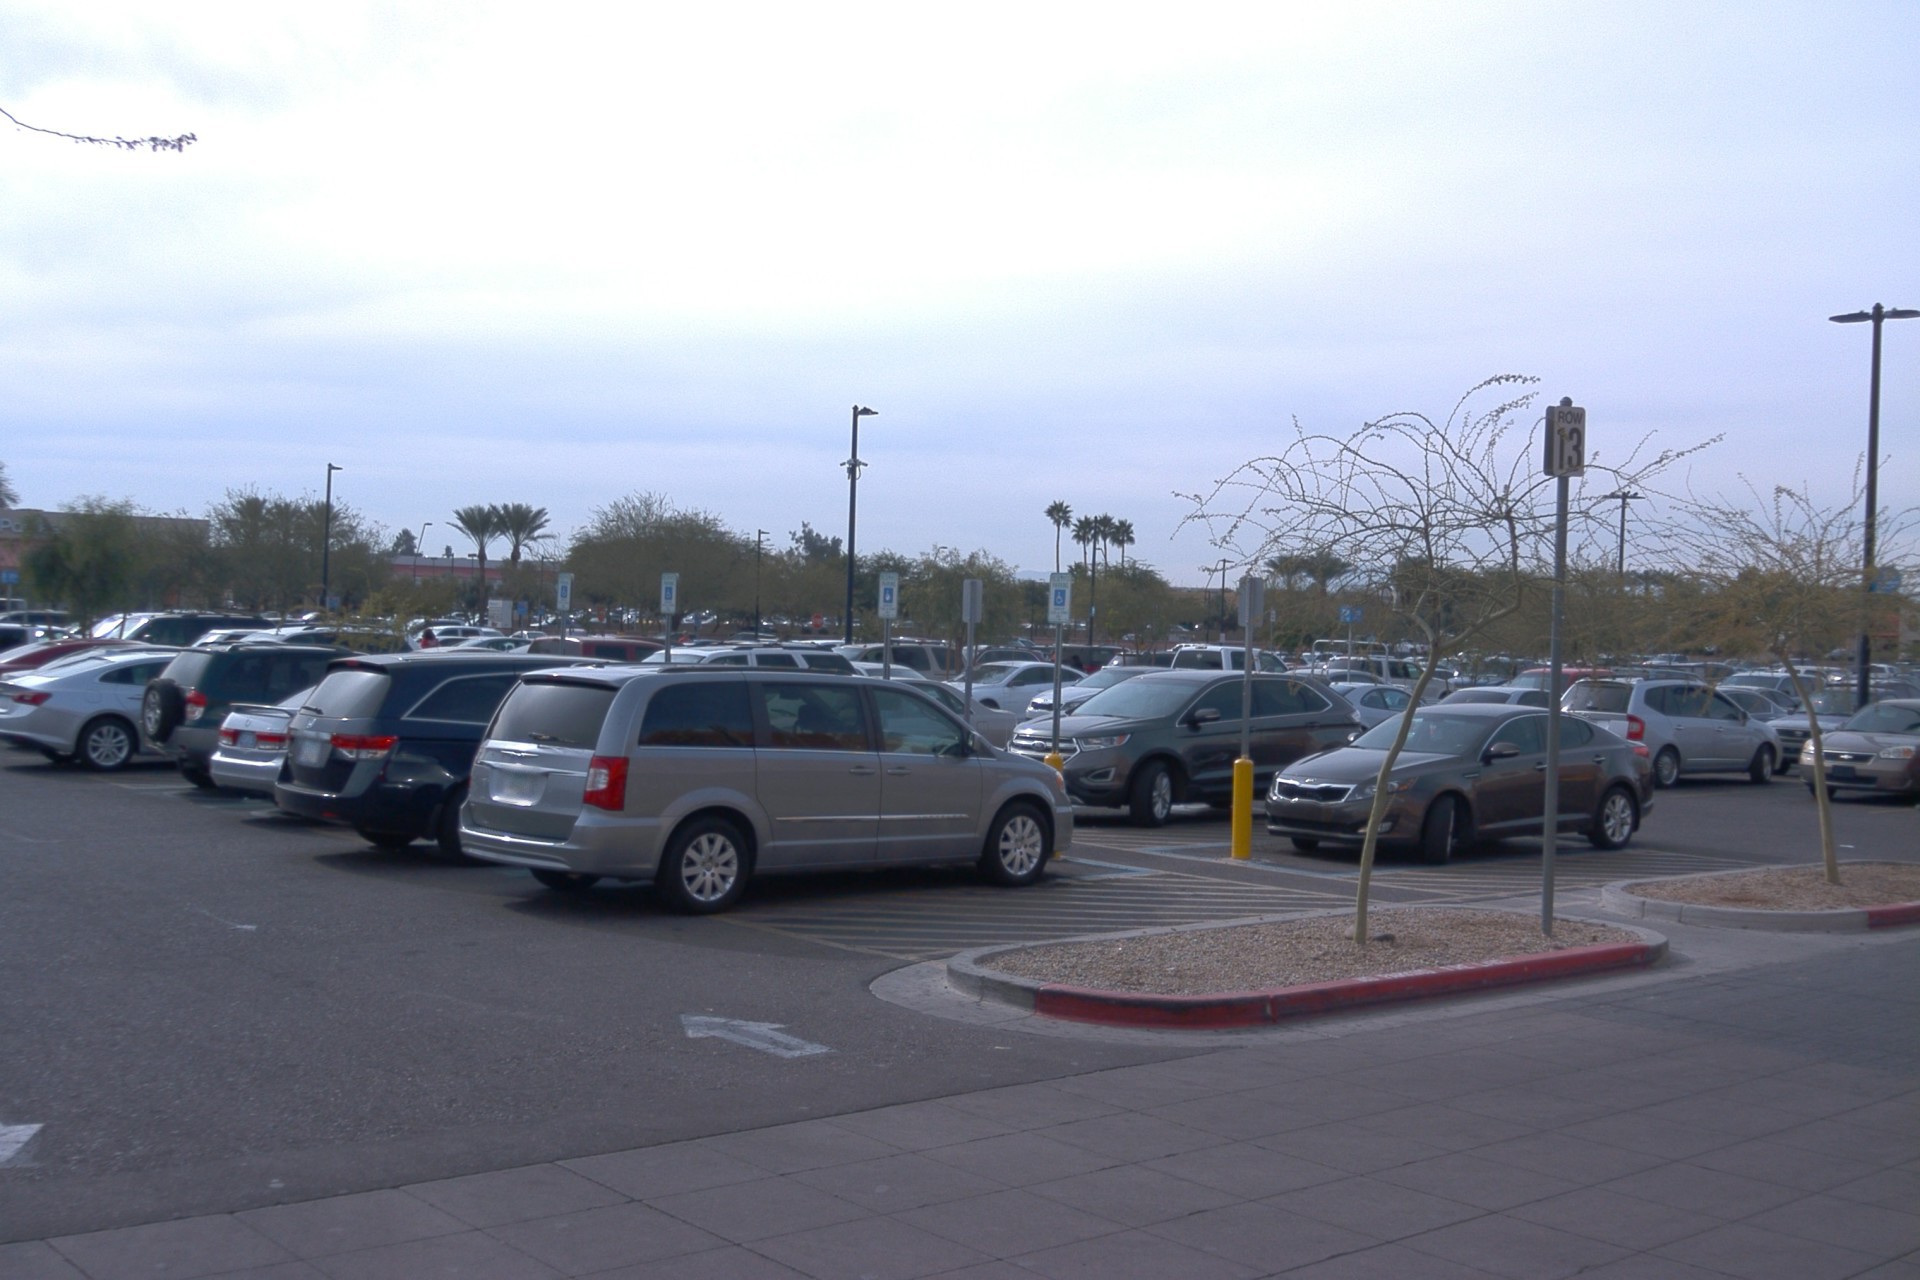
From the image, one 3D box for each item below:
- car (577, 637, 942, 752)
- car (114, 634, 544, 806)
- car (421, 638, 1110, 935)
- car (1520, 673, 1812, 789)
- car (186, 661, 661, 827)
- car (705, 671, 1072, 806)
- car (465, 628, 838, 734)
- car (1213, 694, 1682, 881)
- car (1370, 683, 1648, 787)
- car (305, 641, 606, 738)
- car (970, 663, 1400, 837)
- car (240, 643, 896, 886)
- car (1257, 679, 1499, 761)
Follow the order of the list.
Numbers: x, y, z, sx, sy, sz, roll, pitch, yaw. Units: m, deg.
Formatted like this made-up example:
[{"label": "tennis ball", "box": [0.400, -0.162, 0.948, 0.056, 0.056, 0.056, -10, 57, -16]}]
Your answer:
[{"label": "car", "box": [-2.710, 0.751, 28.828, 4.748, 1.460, 2.027, 2, -1, -42]}, {"label": "car", "box": [-7.160, 0.876, 23.806, 4.279, 1.790, 1.896, 2, -1, -43]}, {"label": "car", "box": [-1.346, 1.015, 16.132, 5.067, 1.930, 2.133, 2, -1, -44]}, {"label": "car", "box": [11.109, 1.393, 32.512, 4.752, 1.660, 2.105, 2, -1, -39]}, {"label": "car", "box": [-5.397, 1.007, 21.222, 4.279, 1.500, 1.896, 2, -1, -43]}, {"label": "car", "box": [-0.846, 1.219, 26.621, 4.458, 1.550, 2.059, 2, -1, -45]}, {"label": "car", "box": [-4.515, 0.614, 30.883, 5.056, 1.450, 2.221, 2, -1, -41]}, {"label": "car", "box": [4.973, 1.389, 20.819, 4.783, 1.610, 2.143, 2, -1, -40]}, {"label": "car", "box": [9.188, 1.547, 34.547, 4.752, 1.580, 2.105, 2, -1, -40]}, {"label": "car", "box": [-8.575, 0.842, 35.475, 4.550, 1.540, 1.999, 2, -1, -40]}, {"label": "car", "box": [2.634, 1.185, 23.555, 4.789, 1.740, 2.142, 2, -1, -41]}, {"label": "car", "box": [-3.346, 1.011, 18.522, 5.324, 1.850, 2.262, 2, -1, -43]}, {"label": "car", "box": [7.464, 1.404, 36.866, 4.344, 1.340, 1.914, 2, -1, -40]}]
